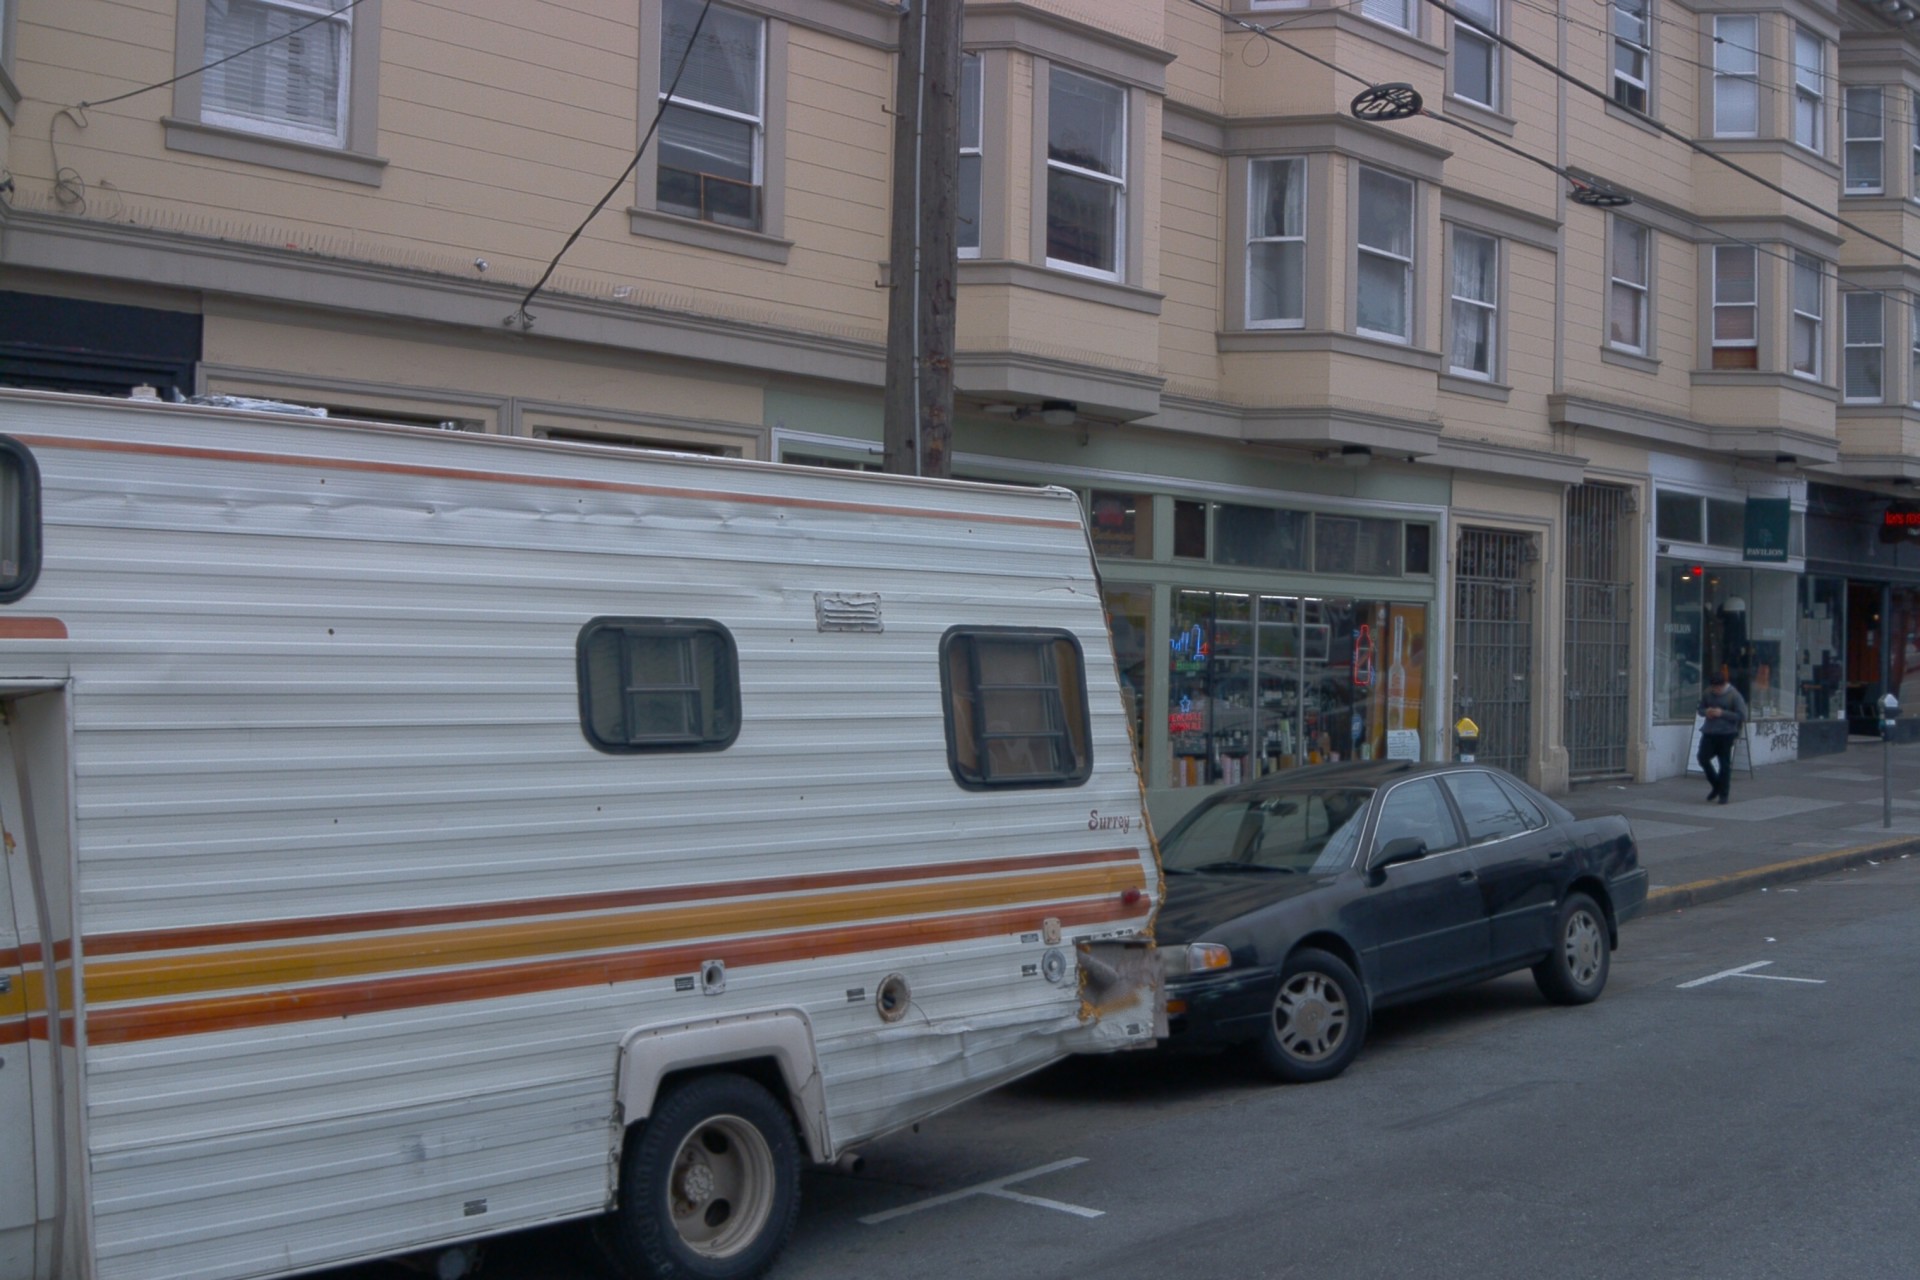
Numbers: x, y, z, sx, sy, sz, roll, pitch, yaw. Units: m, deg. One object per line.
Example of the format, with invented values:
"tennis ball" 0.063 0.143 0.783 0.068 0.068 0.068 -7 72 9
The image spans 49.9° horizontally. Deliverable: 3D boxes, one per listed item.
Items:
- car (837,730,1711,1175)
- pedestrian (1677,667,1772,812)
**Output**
"car" 1.907 1.442 11.302 4.855 1.580 2.291 -1 1 -45
"pedestrian" 8.821 1.134 23.816 0.786 1.603 0.748 1 1 43
